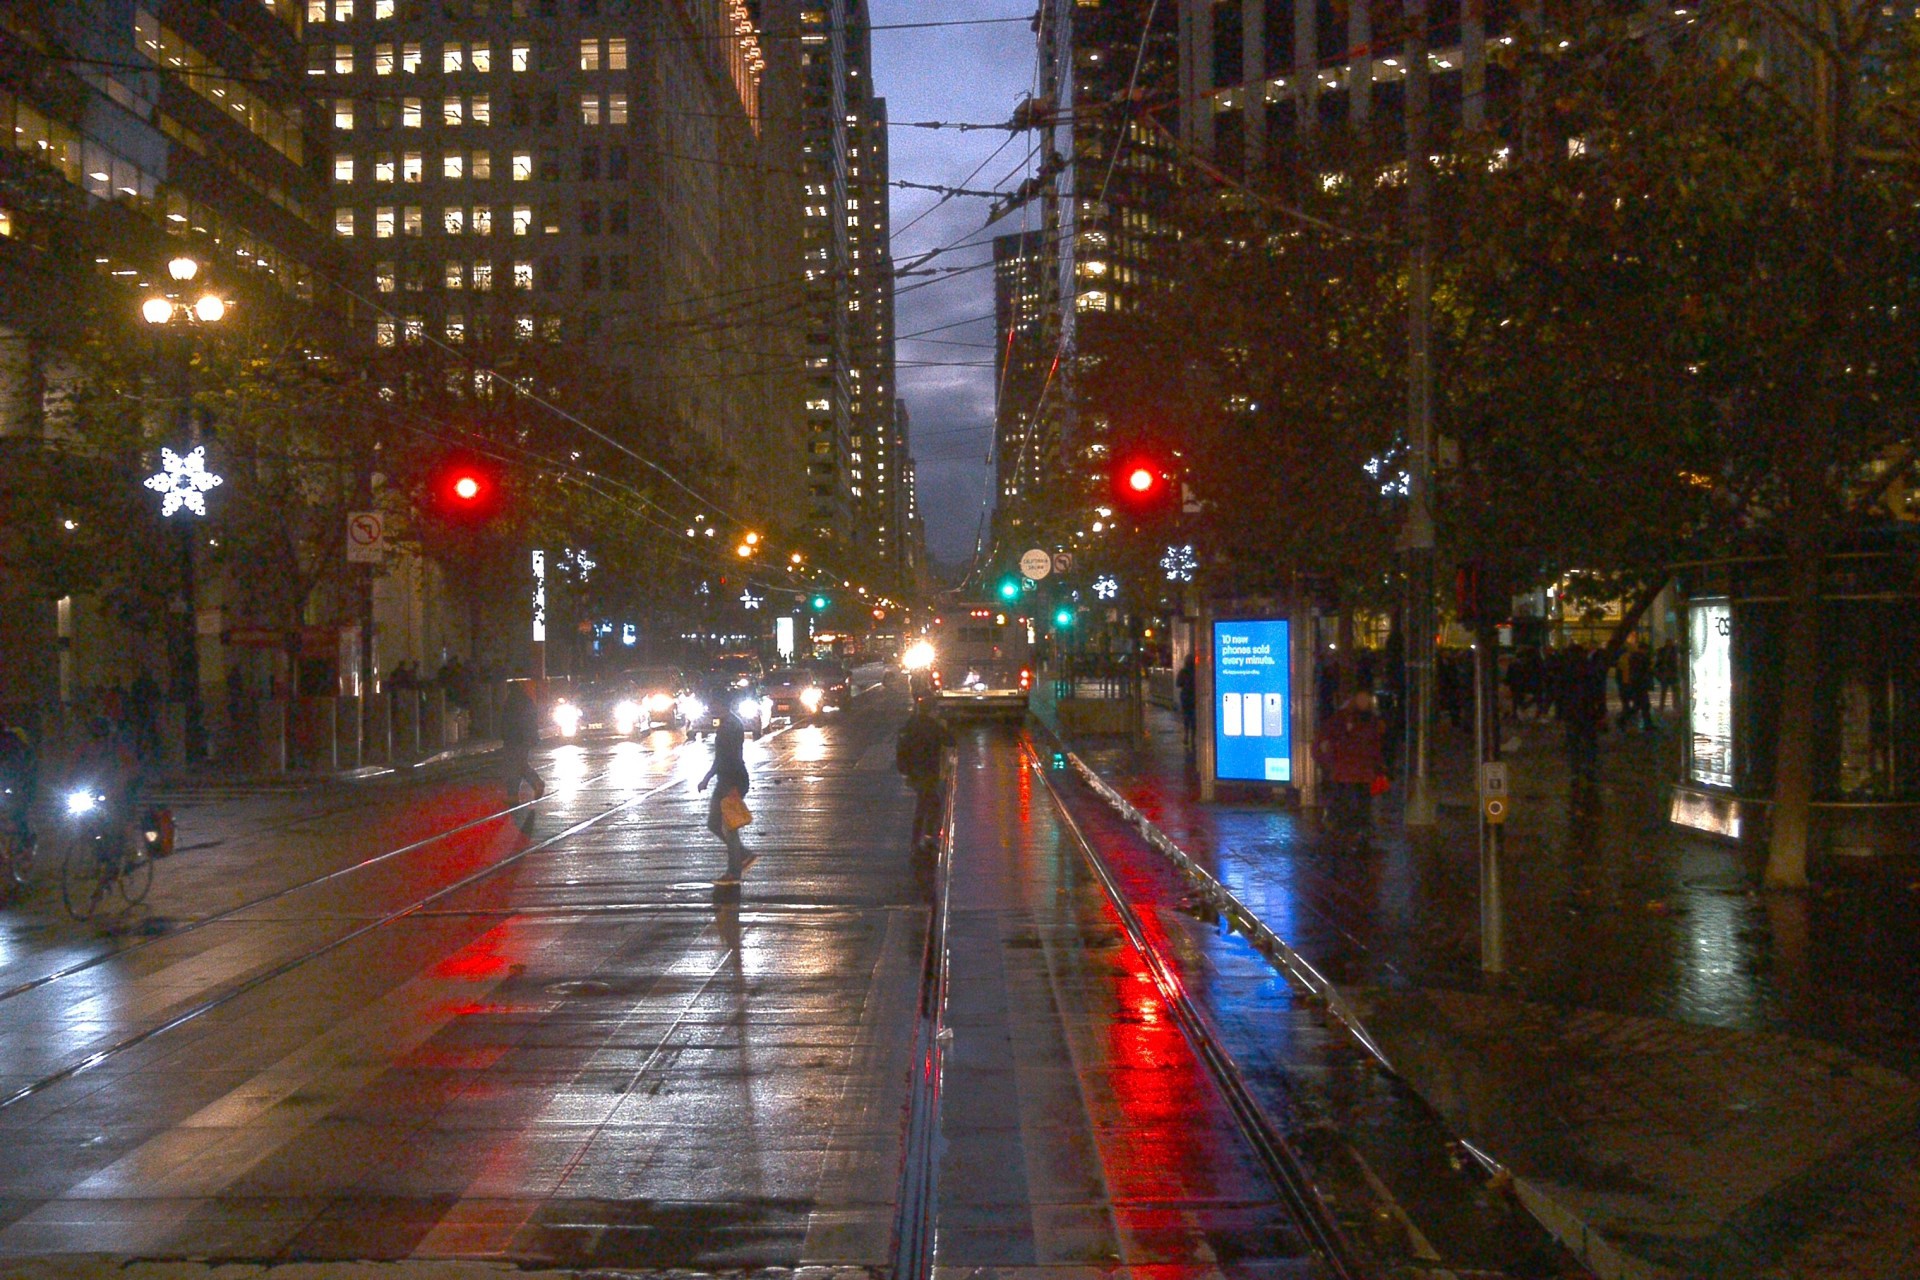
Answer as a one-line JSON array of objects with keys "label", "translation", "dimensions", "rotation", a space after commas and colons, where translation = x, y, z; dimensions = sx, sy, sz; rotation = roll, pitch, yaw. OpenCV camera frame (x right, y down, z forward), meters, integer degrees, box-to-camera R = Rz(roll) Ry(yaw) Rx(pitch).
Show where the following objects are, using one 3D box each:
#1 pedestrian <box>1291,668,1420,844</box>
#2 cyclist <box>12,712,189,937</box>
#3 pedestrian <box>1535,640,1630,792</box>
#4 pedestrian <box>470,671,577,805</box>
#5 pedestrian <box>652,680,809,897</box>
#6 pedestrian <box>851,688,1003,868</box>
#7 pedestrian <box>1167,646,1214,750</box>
[{"label": "pedestrian", "translation": [3.957, 1.139, 20.572], "dimensions": [1.009, 1.710, 1.059], "rotation": [0, 0, -5]}, {"label": "cyclist", "translation": [-6.976, 1.460, 16.714], "dimensions": [0.732, 1.680, 1.742], "rotation": [0, 0, -1]}, {"label": "pedestrian", "translation": [8.175, 0.967, 26.869], "dimensions": [0.925, 1.940, 1.203], "rotation": [0, 0, 31]}, {"label": "pedestrian", "translation": [-6.012, 1.326, 28.186], "dimensions": [1.177, 1.780, 0.853], "rotation": [0, 0, 32]}, {"label": "pedestrian", "translation": [-2.003, 1.259, 17.823], "dimensions": [1.150, 1.800, 0.869], "rotation": [0, 0, -23]}, {"label": "pedestrian", "translation": [-0.331, 1.317, 20.052], "dimensions": [1.051, 1.670, 1.131], "rotation": [0, 0, -31]}, {"label": "pedestrian", "translation": [4.291, 1.058, 38.090], "dimensions": [0.780, 1.890, 1.221], "rotation": [0, 0, 10]}]
